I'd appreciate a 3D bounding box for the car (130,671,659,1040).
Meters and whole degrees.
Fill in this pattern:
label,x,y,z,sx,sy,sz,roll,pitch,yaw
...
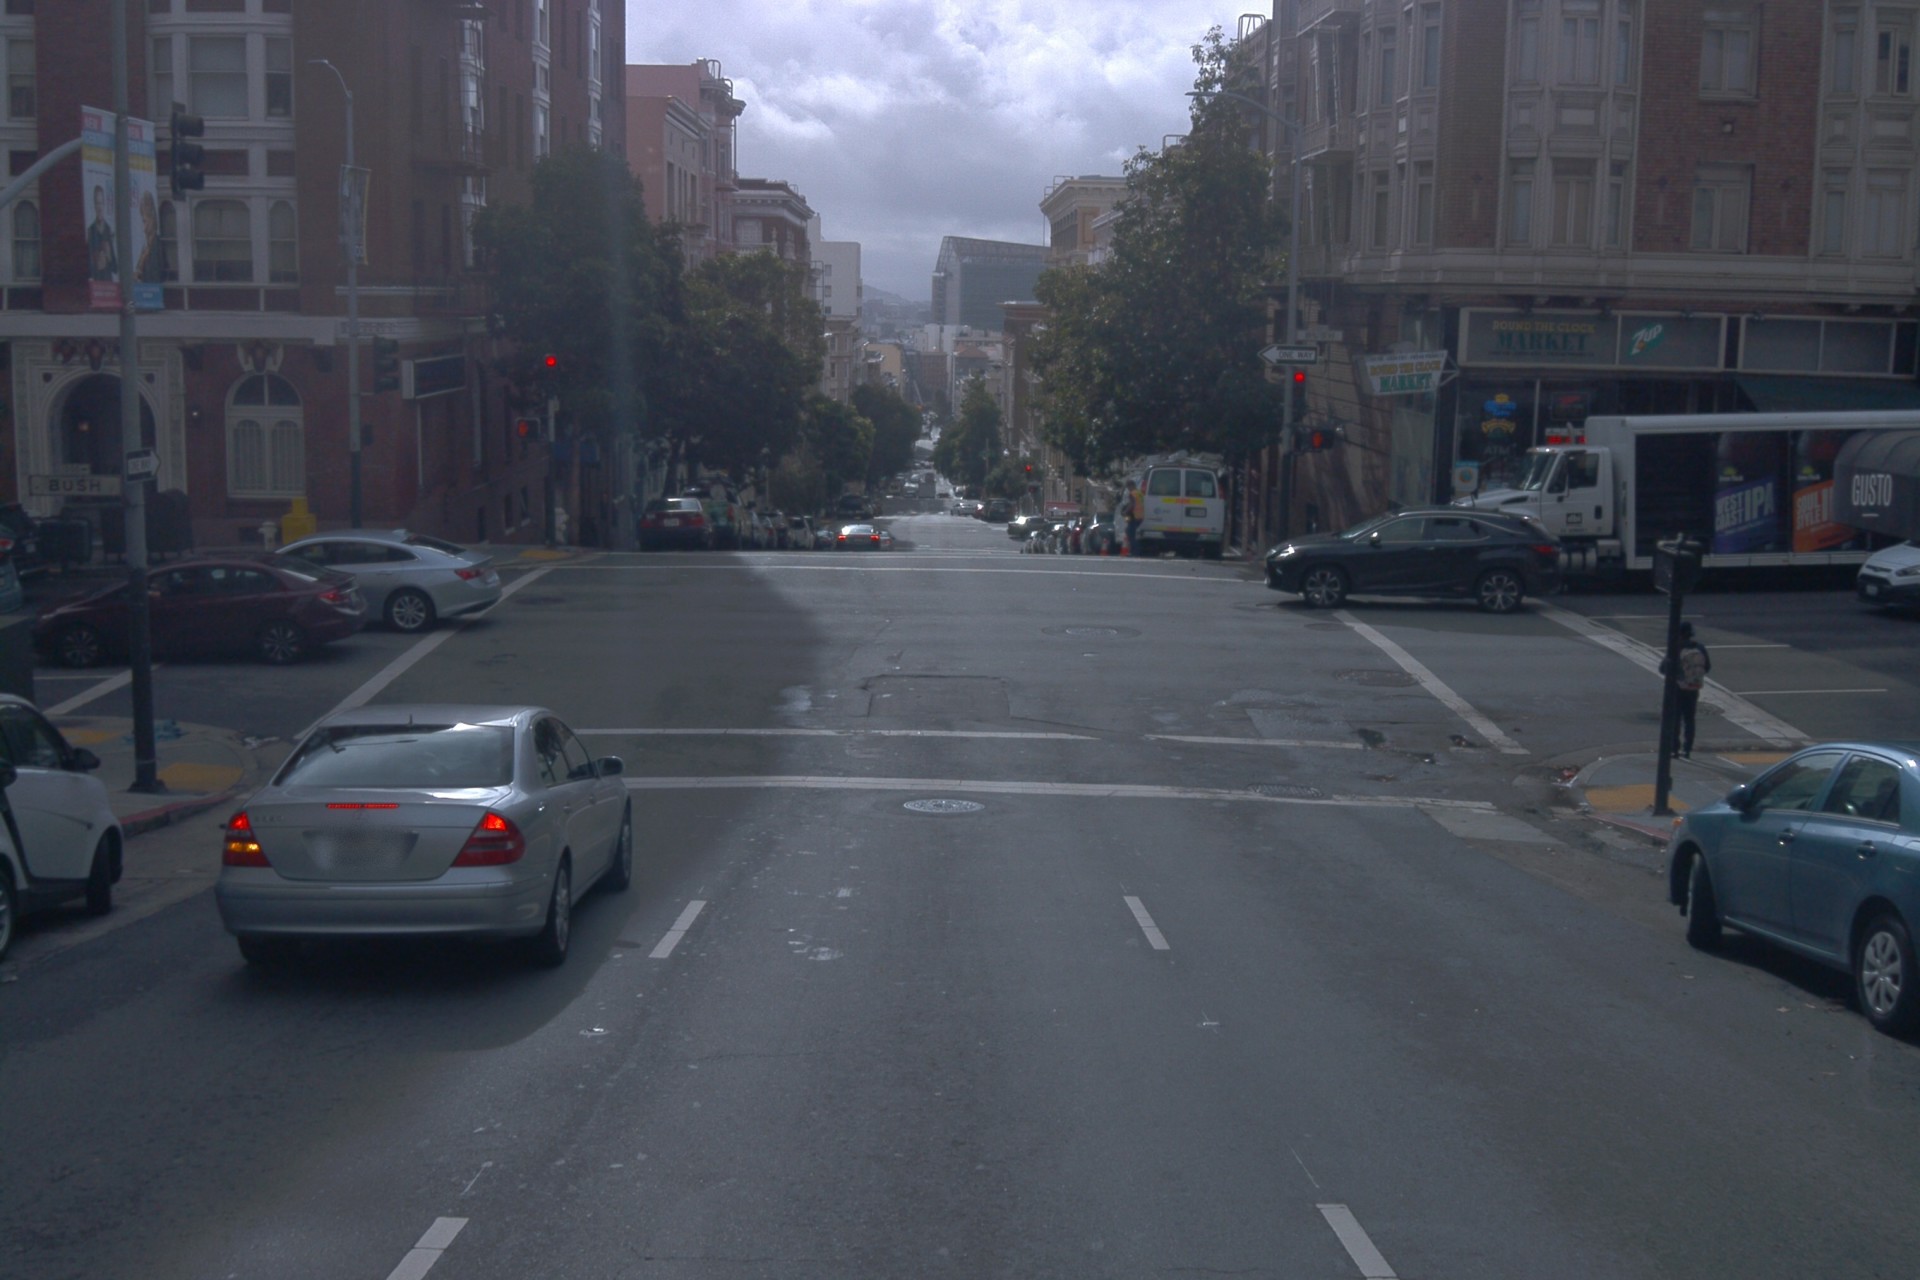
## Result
label,x,y,z,sx,sy,sz,roll,pitch,yaw
car,-3.203,1.128,12.688,2.074,1.700,4.689,1,1,-2

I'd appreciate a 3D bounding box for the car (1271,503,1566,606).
label,x,y,z,sx,sy,sz,roll,pitch,yaw
car,7.665,-1.426,34.325,4.651,1.608,2.129,1,1,13

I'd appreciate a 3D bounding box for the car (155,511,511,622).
label,x,y,z,sx,sy,sz,roll,pitch,yaw
car,-9.270,-1.076,30.512,4.737,1.500,1.876,1,1,-1

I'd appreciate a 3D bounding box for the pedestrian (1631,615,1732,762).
label,x,y,z,sx,sy,sz,roll,pitch,yaw
pedestrian,8.066,0.526,22.885,0.752,1.590,0.926,1,1,-2
